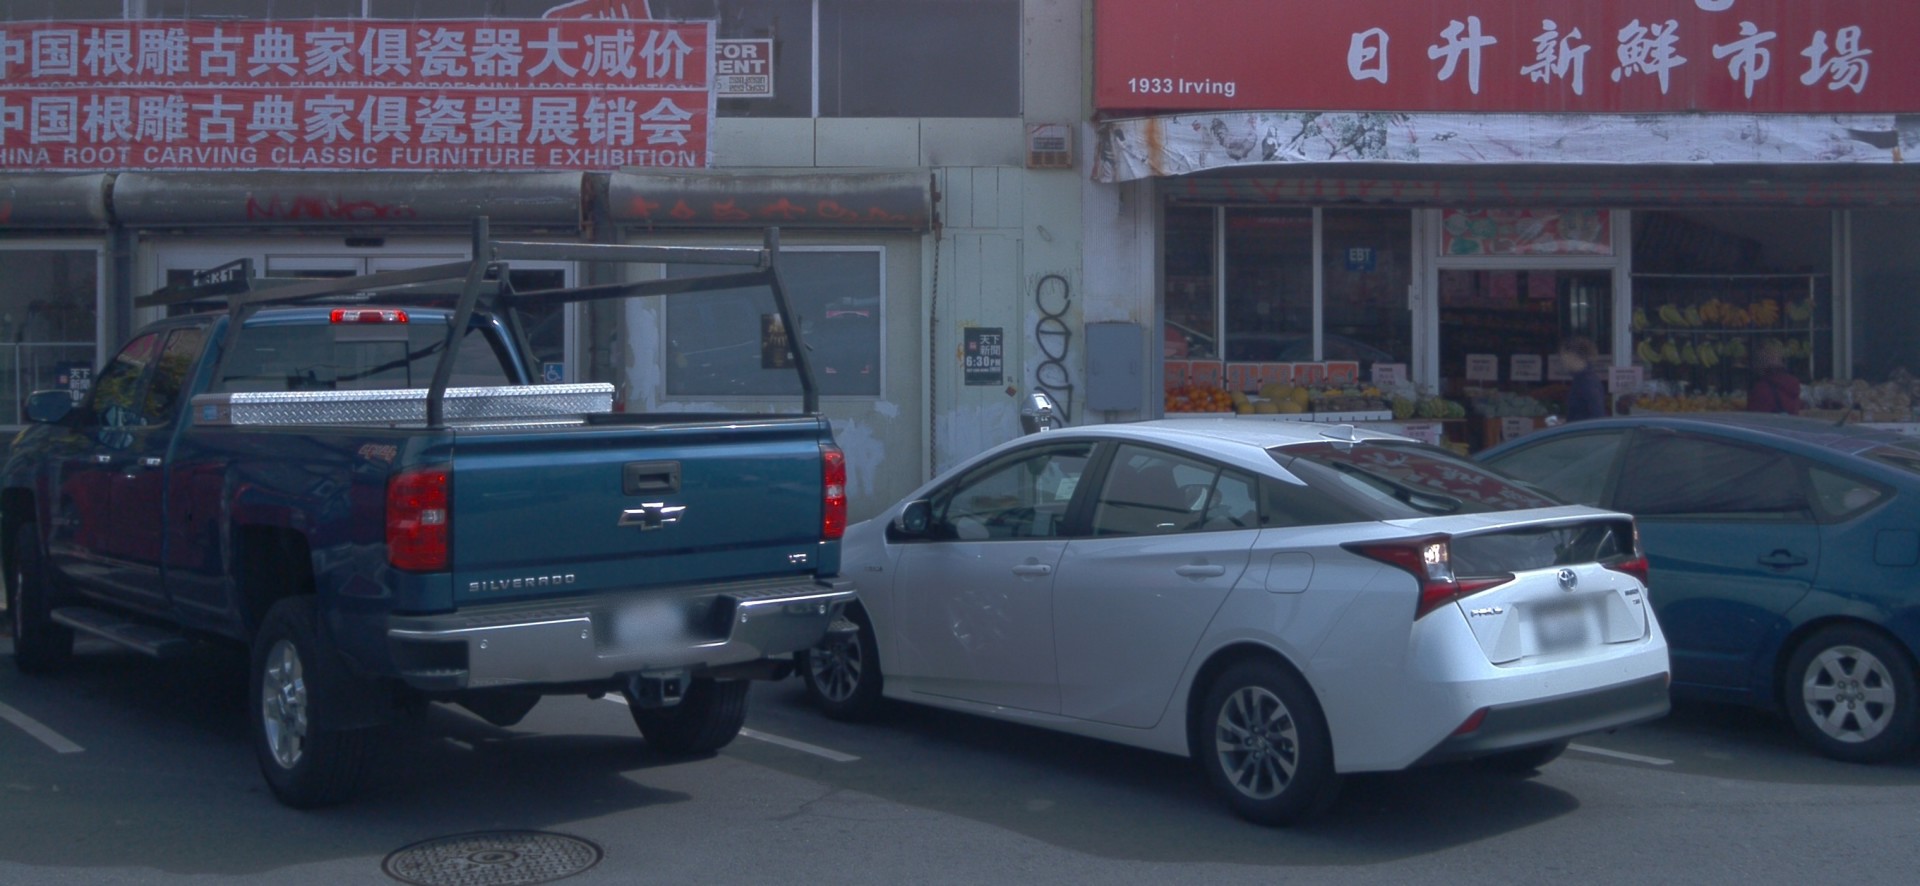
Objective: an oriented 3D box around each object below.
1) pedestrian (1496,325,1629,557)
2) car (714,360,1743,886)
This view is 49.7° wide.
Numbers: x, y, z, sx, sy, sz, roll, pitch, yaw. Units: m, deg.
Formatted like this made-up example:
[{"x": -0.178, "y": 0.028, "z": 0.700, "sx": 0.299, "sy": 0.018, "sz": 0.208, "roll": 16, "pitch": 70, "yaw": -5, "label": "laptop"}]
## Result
[{"x": 4.387, "y": -0.037, "z": 15.142, "sx": 0.769, "sy": 1.611, "sz": 0.758, "roll": 0, "pitch": 1, "yaw": 2, "label": "pedestrian"}, {"x": 0.951, "y": 0.569, "z": 9.224, "sx": 2.100, "sy": 1.567, "sz": 4.268, "roll": -3, "pitch": 6, "yaw": -39, "label": "car"}]
